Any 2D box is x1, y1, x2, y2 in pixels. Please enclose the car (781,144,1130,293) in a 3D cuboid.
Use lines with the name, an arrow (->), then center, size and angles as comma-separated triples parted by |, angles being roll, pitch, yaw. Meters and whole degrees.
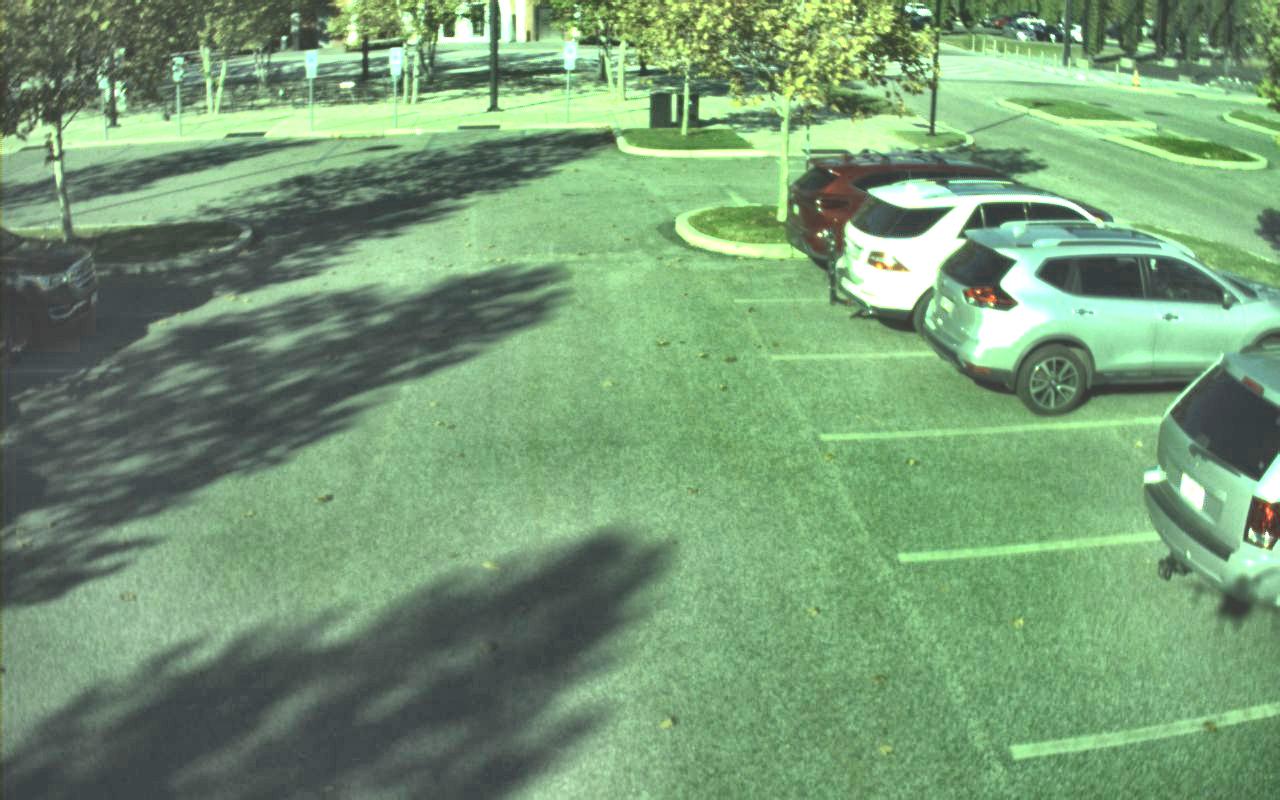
car -> 4.493, -2.659, 17.502 | 4.700, 1.767, 2.027 | -3, 16, -5

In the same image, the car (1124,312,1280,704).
car -> 5.852, 0.583, 7.390 | 4.641, 1.862, 2.039 | -2, 16, -2

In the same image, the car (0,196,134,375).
car -> -8.935, -1.481, 14.436 | 4.501, 1.610, 1.986 | -5, 17, -13

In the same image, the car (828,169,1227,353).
car -> 4.773, -1.806, 14.817 | 4.640, 1.809, 2.021 | -3, 16, -8

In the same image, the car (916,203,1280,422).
car -> 5.229, -0.998, 12.346 | 4.446, 1.769, 1.975 | -2, 16, -3
